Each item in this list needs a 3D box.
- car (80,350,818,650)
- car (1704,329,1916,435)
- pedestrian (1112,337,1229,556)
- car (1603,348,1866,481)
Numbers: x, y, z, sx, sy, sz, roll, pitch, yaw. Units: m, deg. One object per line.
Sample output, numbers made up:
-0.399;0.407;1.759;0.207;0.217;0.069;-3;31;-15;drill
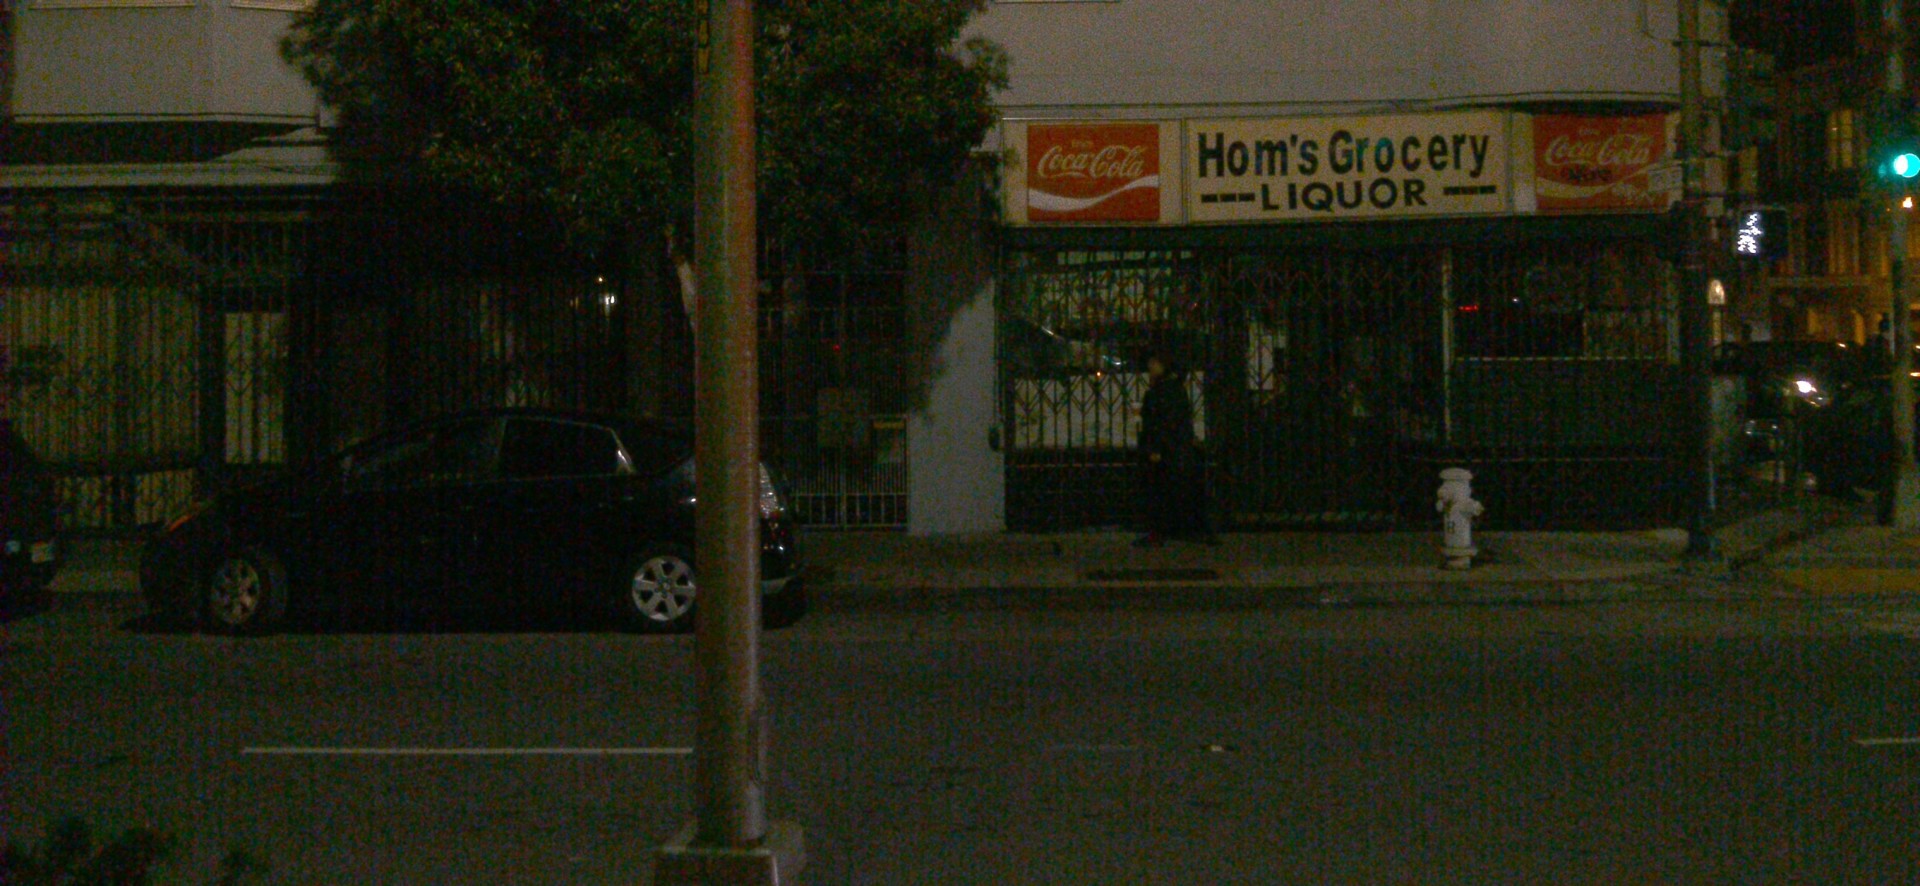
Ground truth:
-3.312;0.320;14.163;4.570;1.776;1.947;0;4;-2;car
14.749;-1.123;36.234;1.997;1.473;4.576;0;6;2;car
1.712;0.008;16.944;0.820;1.688;0.880;0;2;-3;pedestrian
10.397;-0.462;28.199;1.990;1.353;4.636;0;6;2;car
